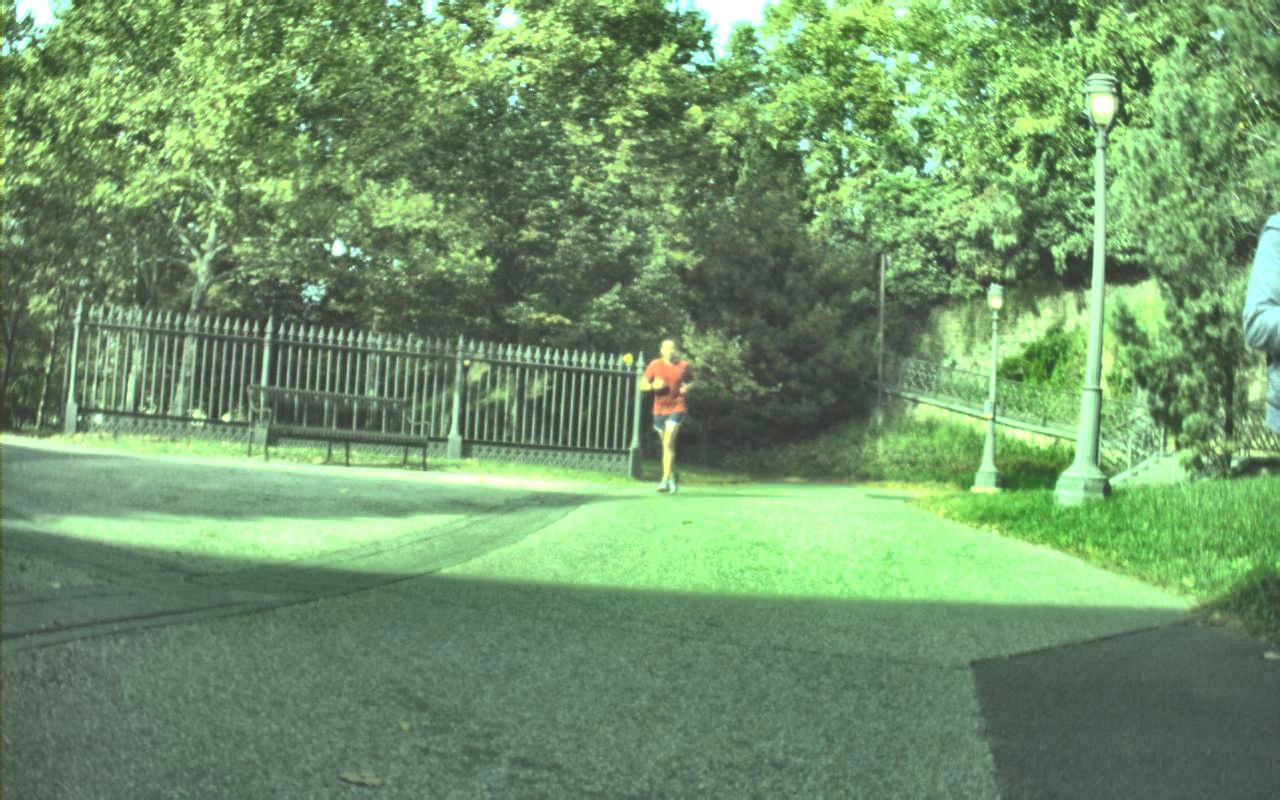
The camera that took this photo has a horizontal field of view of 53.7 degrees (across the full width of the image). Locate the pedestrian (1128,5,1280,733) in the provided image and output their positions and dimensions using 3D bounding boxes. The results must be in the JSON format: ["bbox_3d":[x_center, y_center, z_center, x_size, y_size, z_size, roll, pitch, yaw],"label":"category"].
[{"bbox_3d":[1.692,-0.067,2.834,0.798,1.643,0.829,1,0,14],"label":"pedestrian"}]

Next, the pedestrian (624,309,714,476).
[{"bbox_3d":[0.349,-0.098,14.589,0.821,1.846,0.965,0,0,14],"label":"pedestrian"}]
